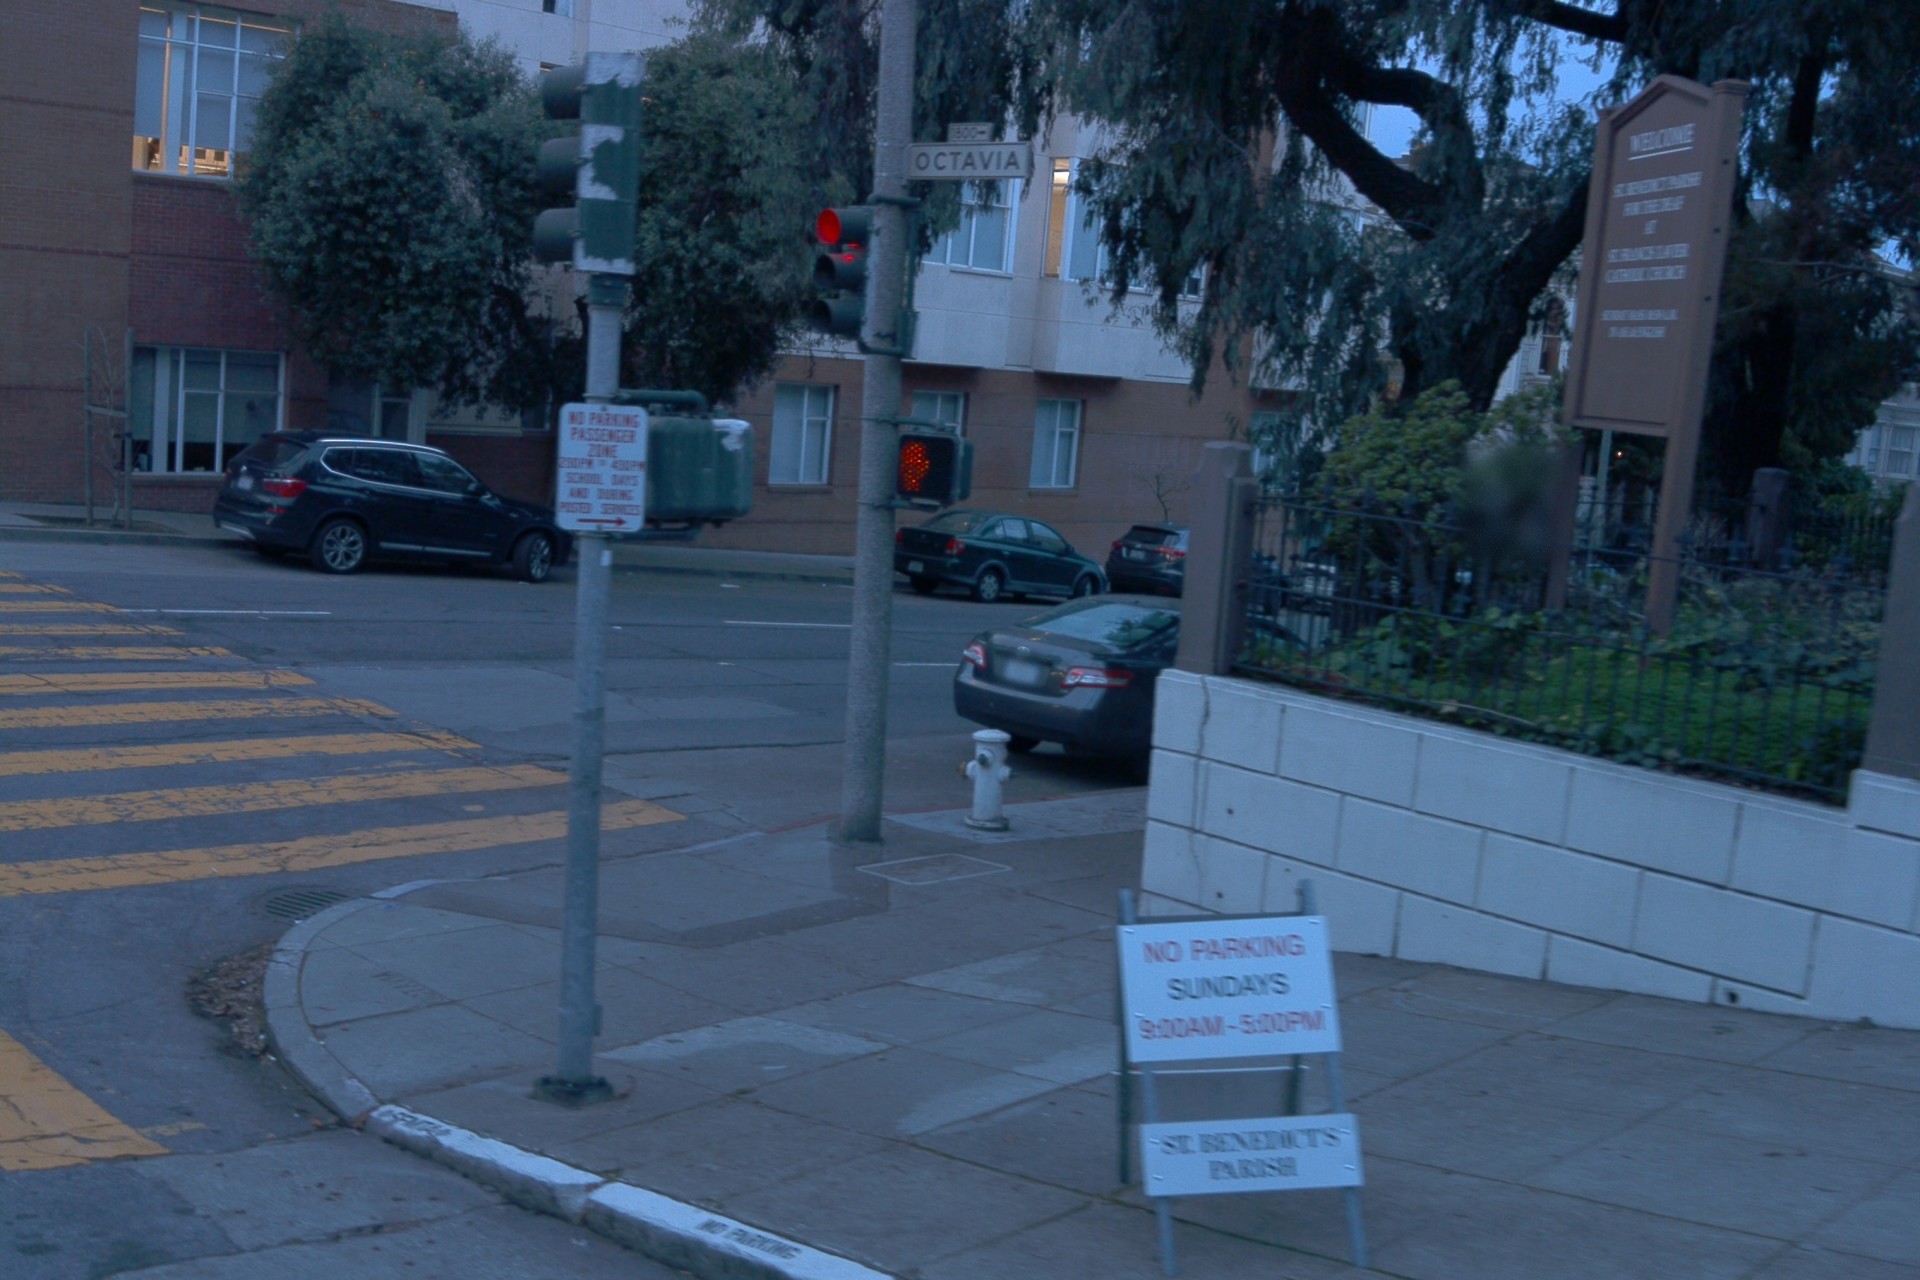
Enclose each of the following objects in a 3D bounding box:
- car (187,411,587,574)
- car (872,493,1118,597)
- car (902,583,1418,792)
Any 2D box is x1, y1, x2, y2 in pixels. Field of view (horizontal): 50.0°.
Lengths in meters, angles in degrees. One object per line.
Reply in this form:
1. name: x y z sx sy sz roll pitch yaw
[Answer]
1. car: -7.229 -1.788 26.271 2.050 1.780 4.500 1 1 43
2. car: 0.632 -1.540 34.455 3.956 1.560 1.886 0 1 -45
3. car: 1.869 0.346 17.982 2.072 1.590 4.609 1 1 43
